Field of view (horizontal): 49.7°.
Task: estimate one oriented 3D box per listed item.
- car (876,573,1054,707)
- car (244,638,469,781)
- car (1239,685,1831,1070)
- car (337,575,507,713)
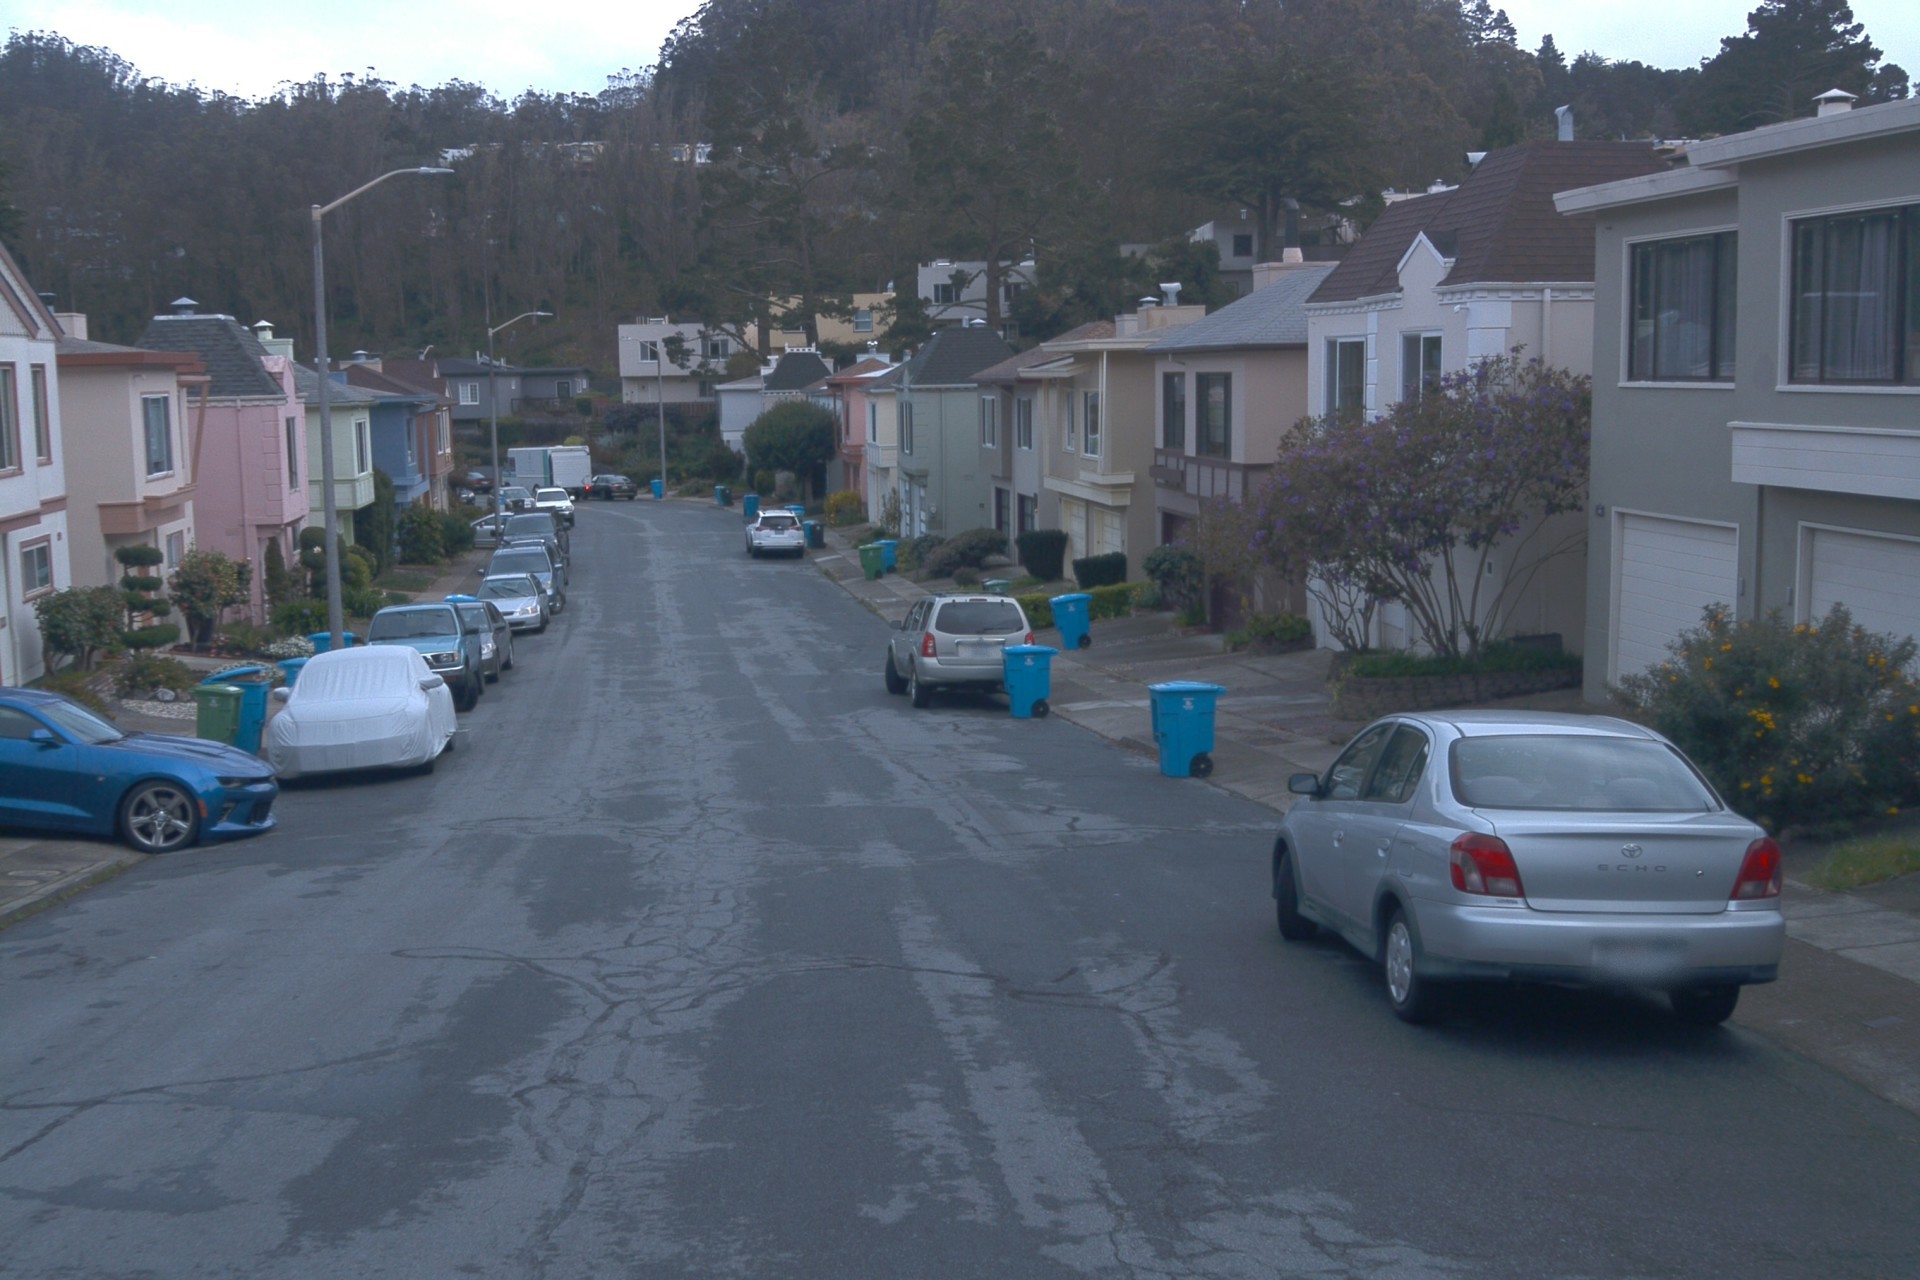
[{"bbox_3d":[-0.015,0.012,32.215,2.143,1.940,4.474,0,0,-8],"label":"car"},{"bbox_3d":[-7.247,0.787,25.294,2.131,1.590,4.313,0,0,-9],"label":"car"},{"bbox_3d":[2.844,1.096,11.305,1.851,1.630,4.218,0,0,-3],"label":"car"},{"bbox_3d":[-8.739,0.079,34.070,2.183,2.085,5.079,0,0,-9],"label":"car"}]
